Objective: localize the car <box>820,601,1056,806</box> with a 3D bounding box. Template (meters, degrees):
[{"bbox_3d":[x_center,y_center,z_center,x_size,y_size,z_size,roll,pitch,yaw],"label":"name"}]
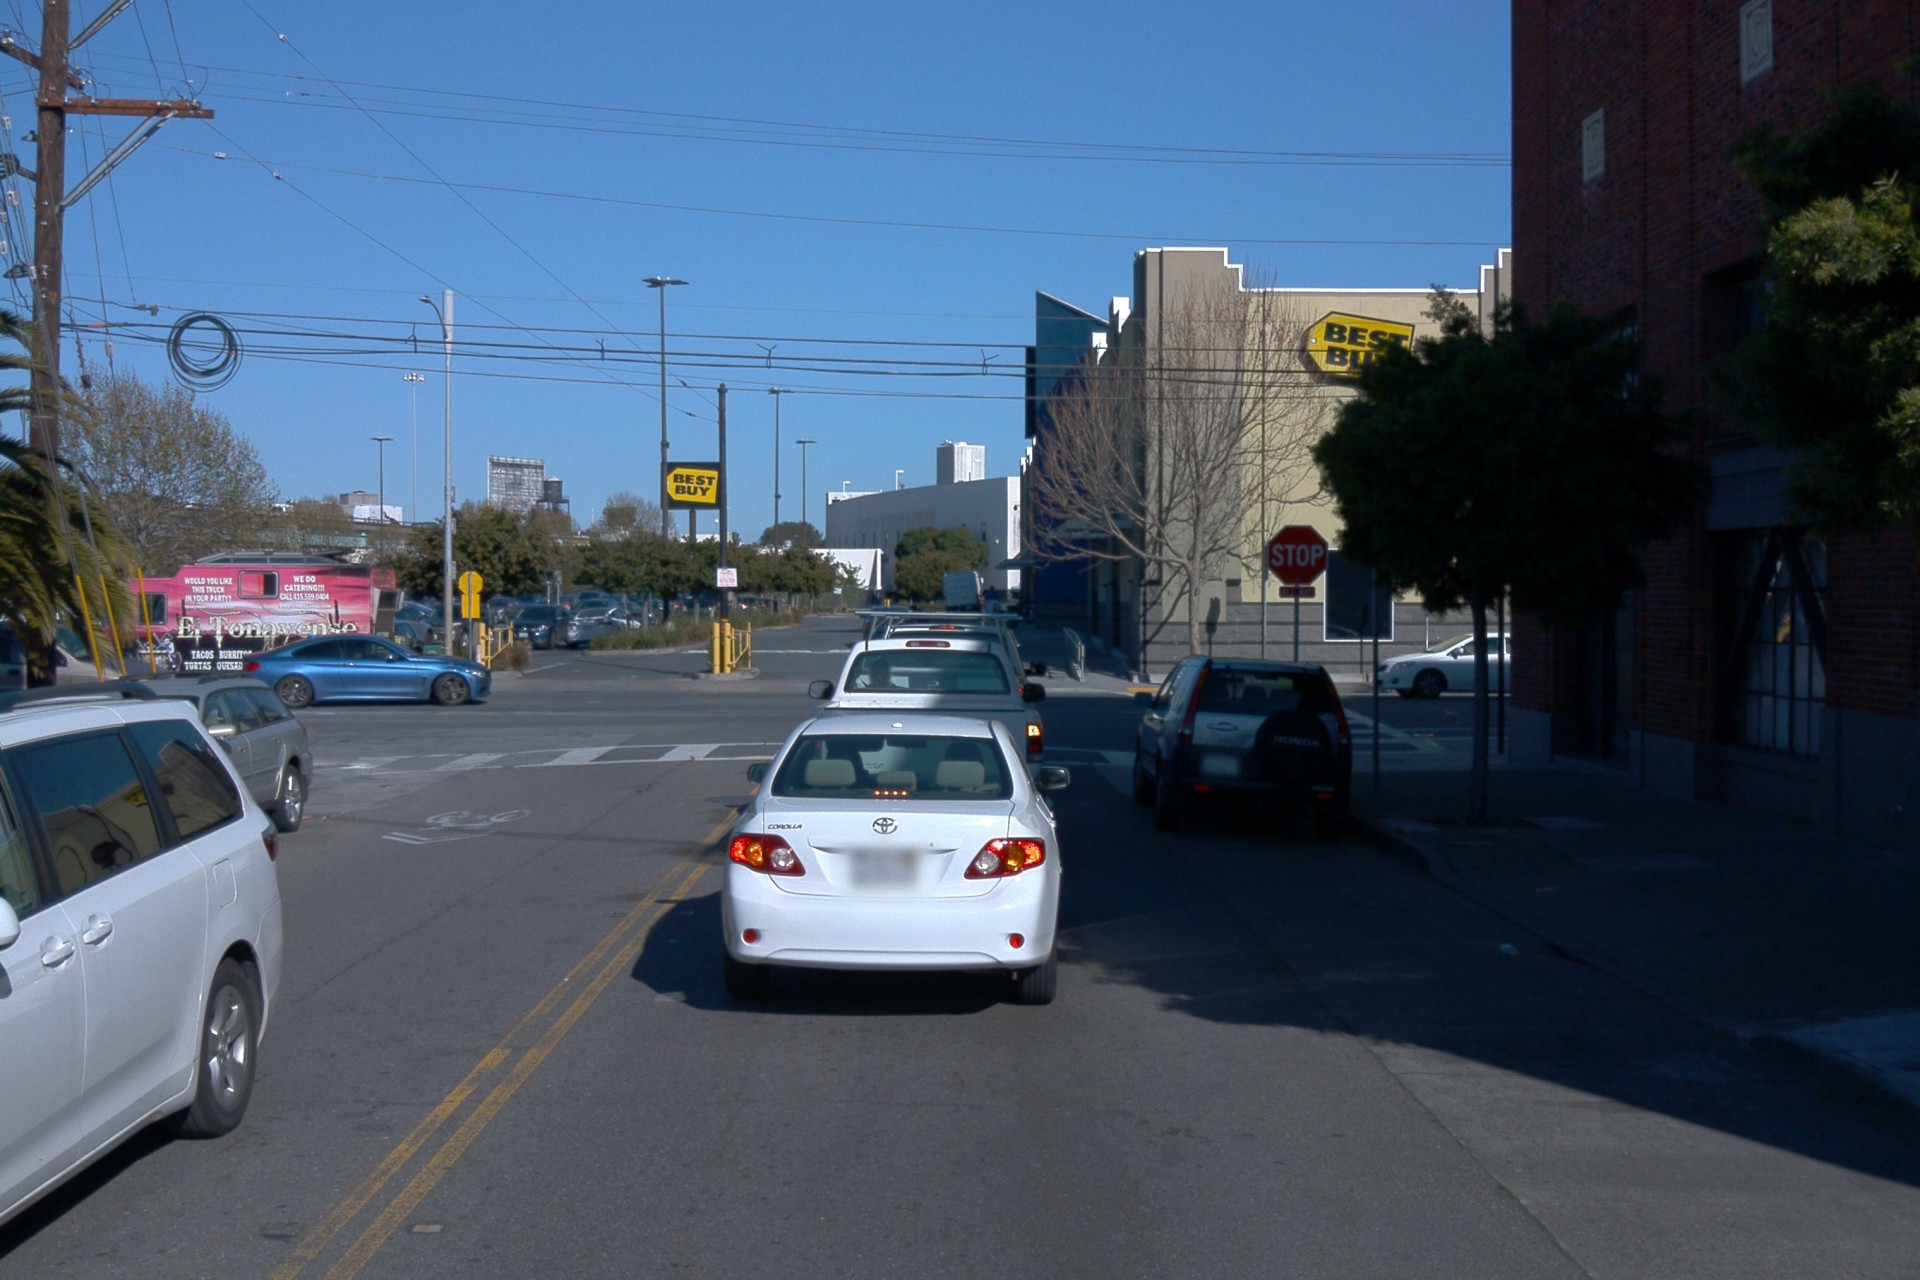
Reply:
[{"bbox_3d":[-0.116,0.632,24.754,2.386,2.140,5.556,1,1,4],"label":"car"}]

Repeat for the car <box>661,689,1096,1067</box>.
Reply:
[{"bbox_3d":[-0.349,1.184,12.034,2.045,1.580,4.504,1,1,1],"label":"car"}]

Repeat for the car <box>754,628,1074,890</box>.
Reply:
[{"bbox_3d":[-0.350,0.881,18.303,2.386,1.880,5.557,1,1,0],"label":"car"}]

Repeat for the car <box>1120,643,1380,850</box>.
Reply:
[{"bbox_3d":[2.751,0.949,20.456,2.017,1.730,4.285,1,1,1],"label":"car"}]
